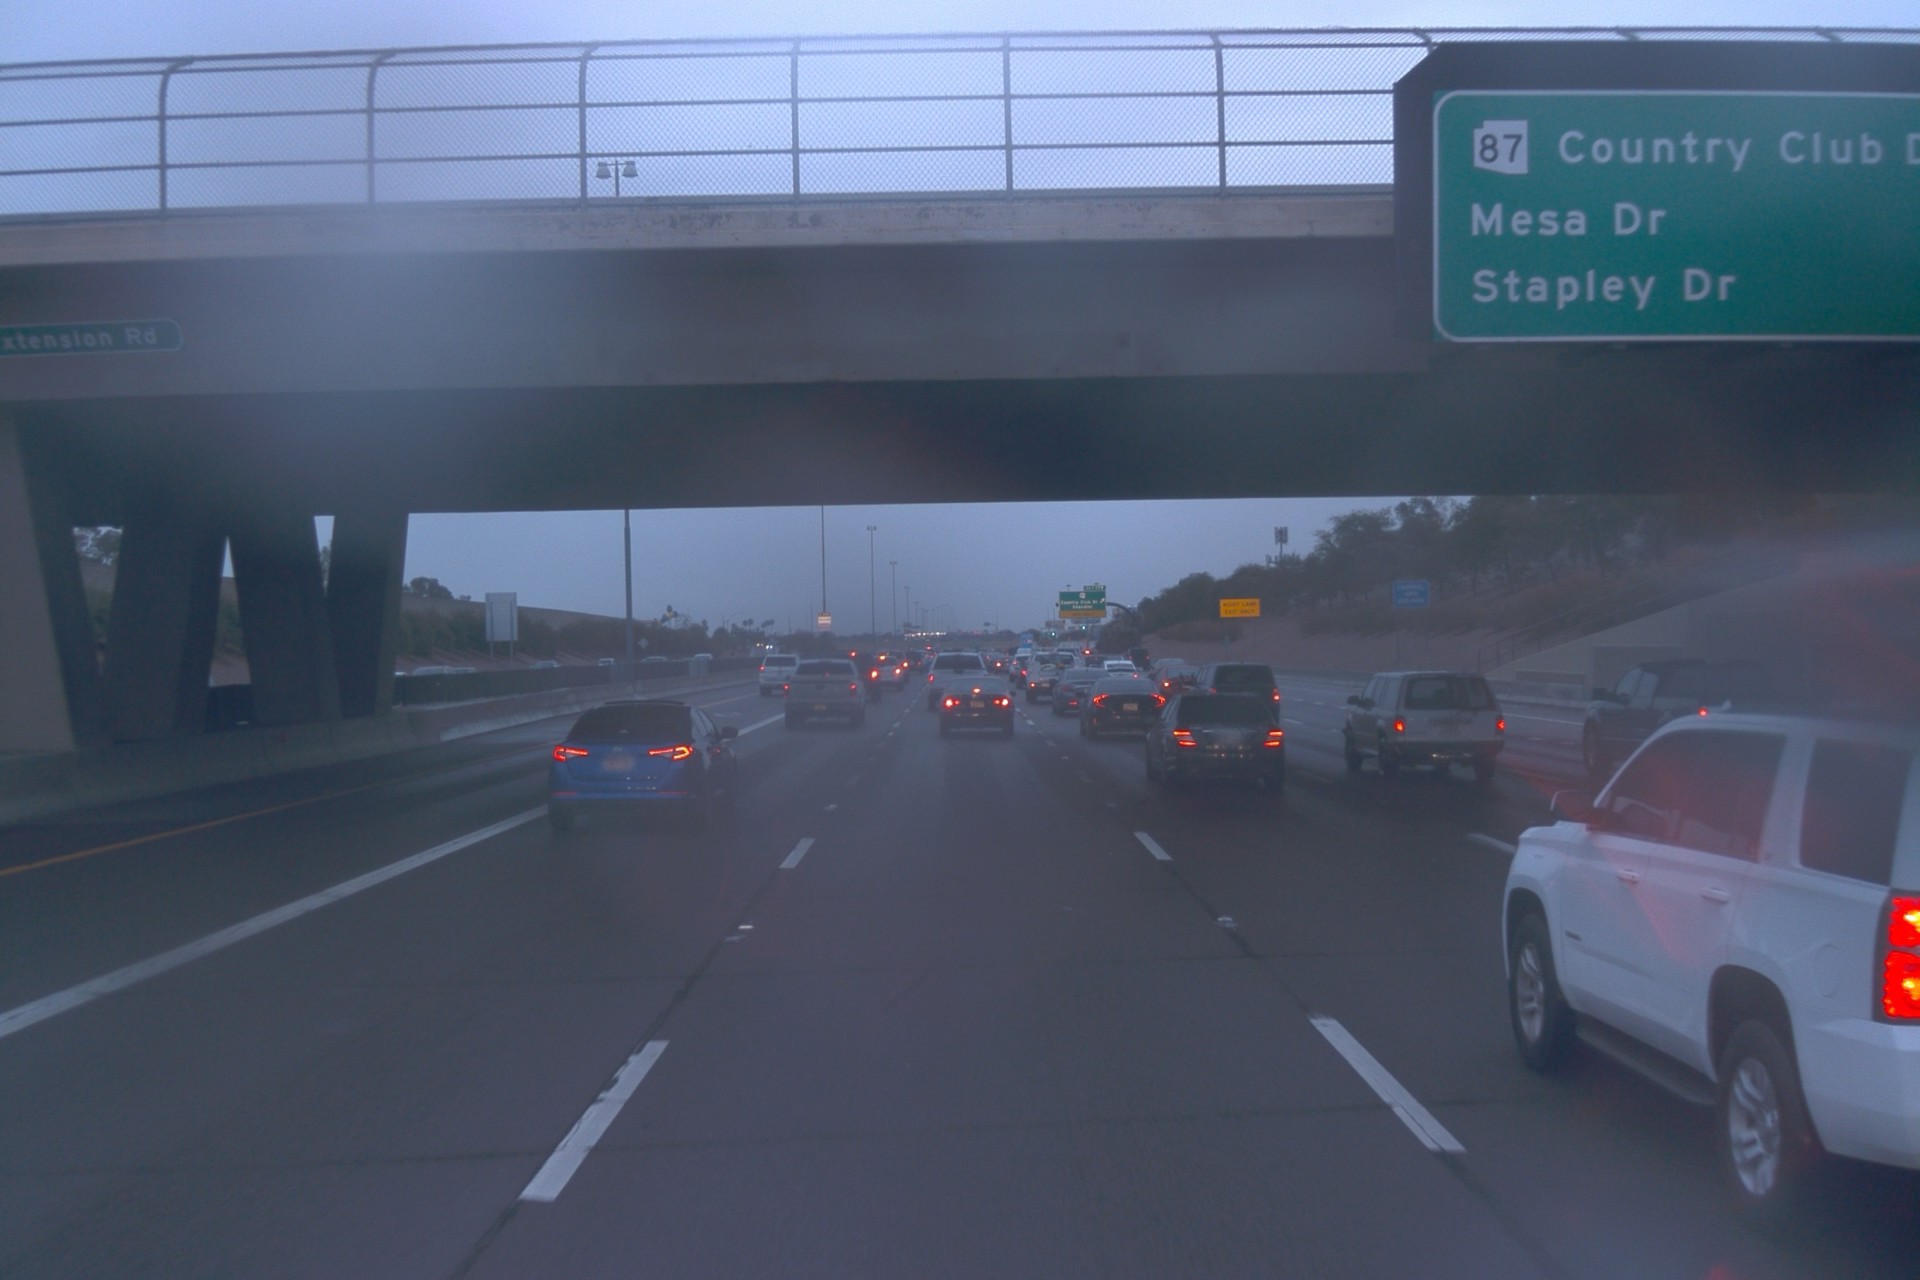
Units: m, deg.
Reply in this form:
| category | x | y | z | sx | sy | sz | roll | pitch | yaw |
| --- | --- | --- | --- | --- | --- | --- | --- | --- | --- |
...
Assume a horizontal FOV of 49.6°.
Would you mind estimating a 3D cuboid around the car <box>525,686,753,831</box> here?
| category | x | y | z | sx | sy | sz | roll | pitch | yaw |
| --- | --- | --- | --- | --- | --- | --- | --- | --- | --- |
| car | -3.748 | 1.355 | 25.045 | 1.988 | 1.510 | 4.517 | 0 | 0 | 1 |

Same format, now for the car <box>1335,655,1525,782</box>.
| category | x | y | z | sx | sy | sz | roll | pitch | yaw |
| --- | --- | --- | --- | --- | --- | --- | --- | --- | --- |
| car | 7.556 | 1.211 | 33.851 | 2.027 | 1.920 | 4.684 | 0 | 0 | 0 |

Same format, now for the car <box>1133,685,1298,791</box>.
| category | x | y | z | sx | sy | sz | roll | pitch | yaw |
| --- | --- | --- | --- | --- | --- | --- | --- | --- | --- |
| car | 3.807 | 1.438 | 31.731 | 2.000 | 1.420 | 4.583 | 0 | 0 | 1 |

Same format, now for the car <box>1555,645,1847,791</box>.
| category | x | y | z | sx | sy | sz | roll | pitch | yaw |
| --- | --- | --- | --- | --- | --- | --- | --- | --- | --- |
| car | 11.114 | 1.100 | 31.731 | 2.367 | 2.030 | 5.832 | 0 | 0 | 0 |
